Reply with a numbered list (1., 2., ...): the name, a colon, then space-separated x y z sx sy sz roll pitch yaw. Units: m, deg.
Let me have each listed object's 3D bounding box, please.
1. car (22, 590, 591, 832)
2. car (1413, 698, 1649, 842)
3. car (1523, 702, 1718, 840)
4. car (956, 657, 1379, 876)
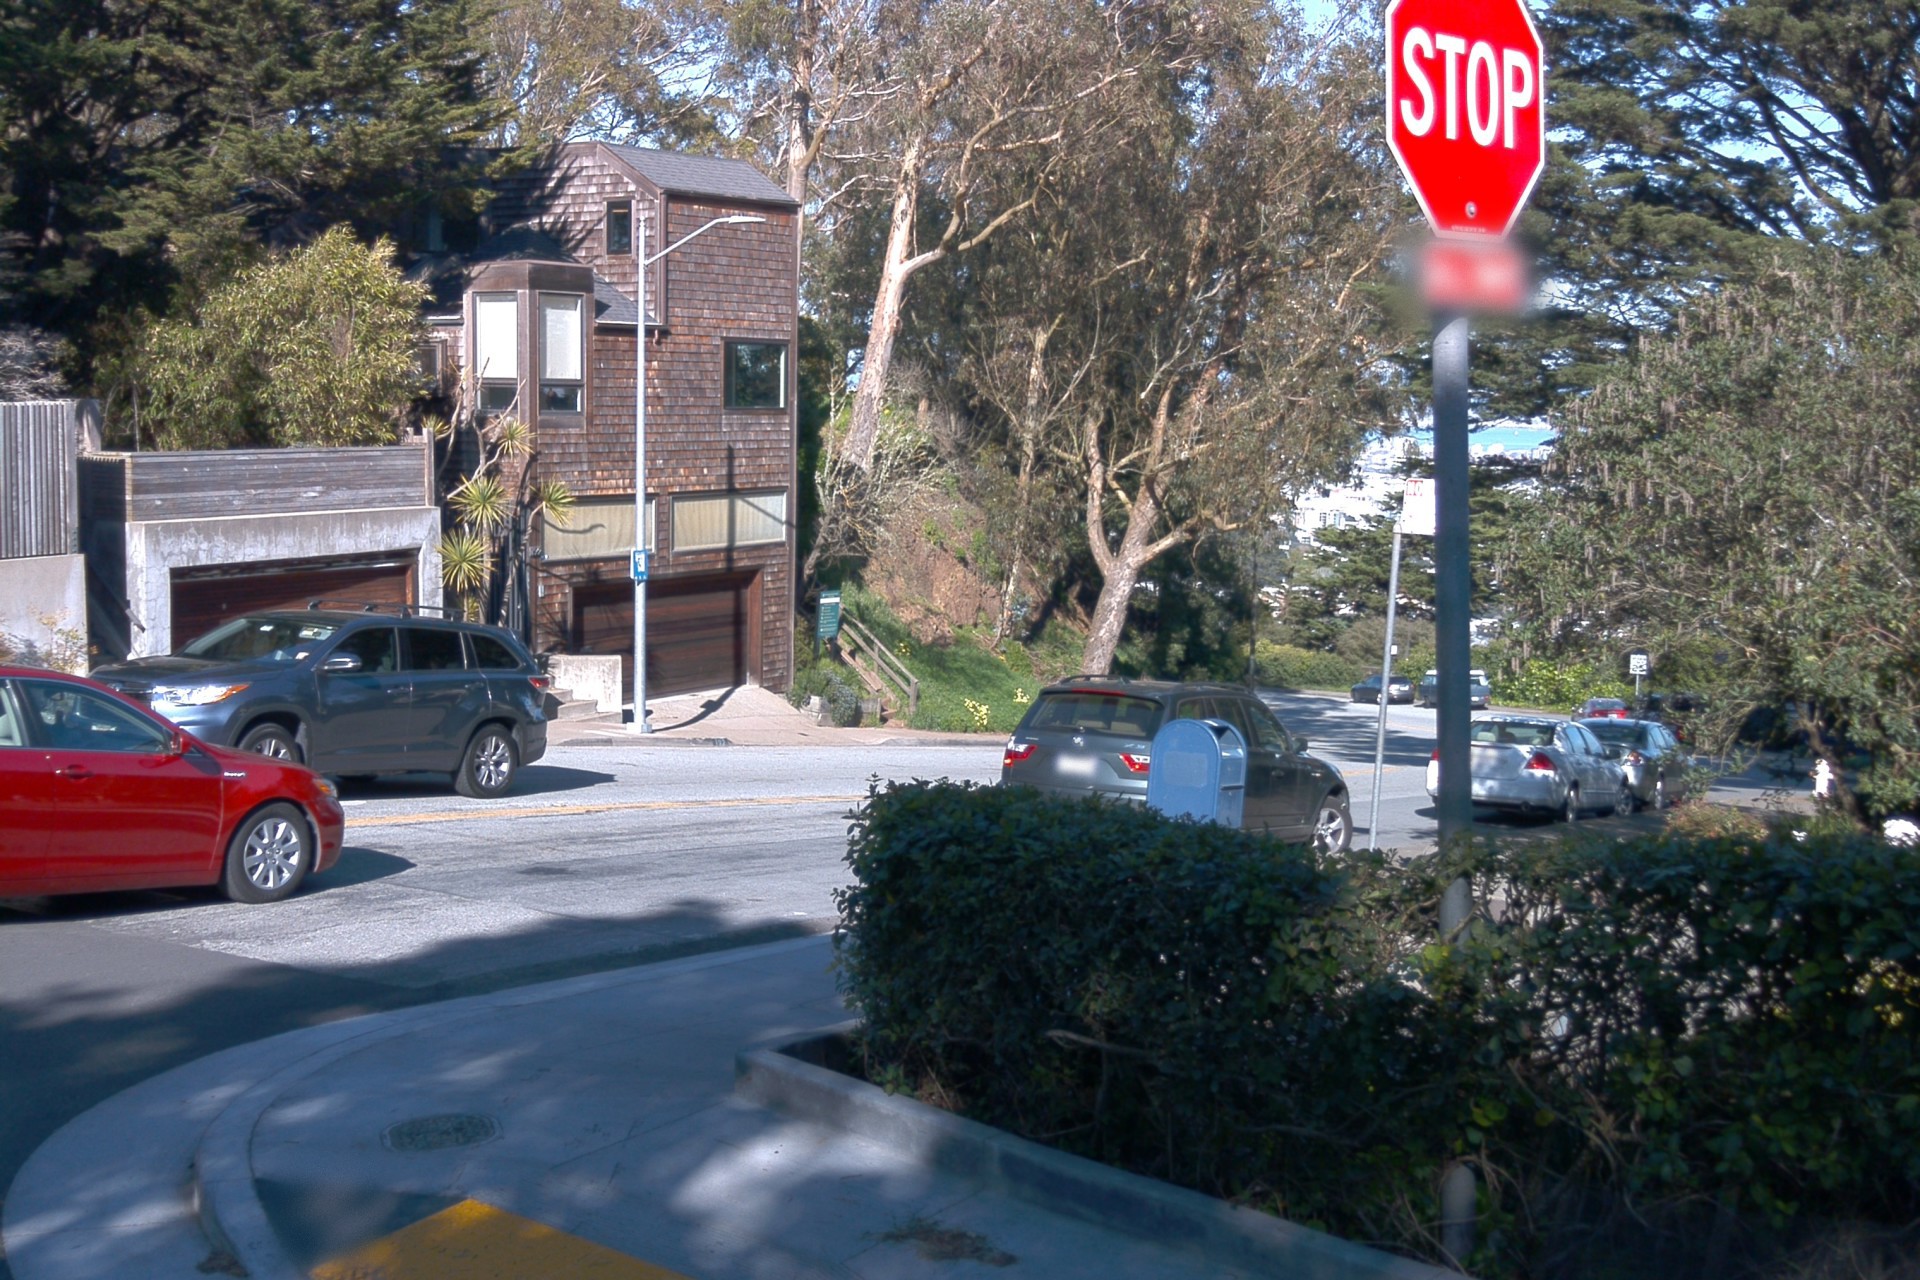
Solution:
1. car: -5.797 0.581 19.304 2.079 1.920 4.917 1 0 29
2. car: 7.920 1.709 28.803 1.893 1.720 4.338 1 0 33
3. car: 10.796 2.050 34.043 2.061 1.950 4.542 1 0 30
4. car: 2.004 1.012 18.840 2.050 1.690 4.437 0 0 31
